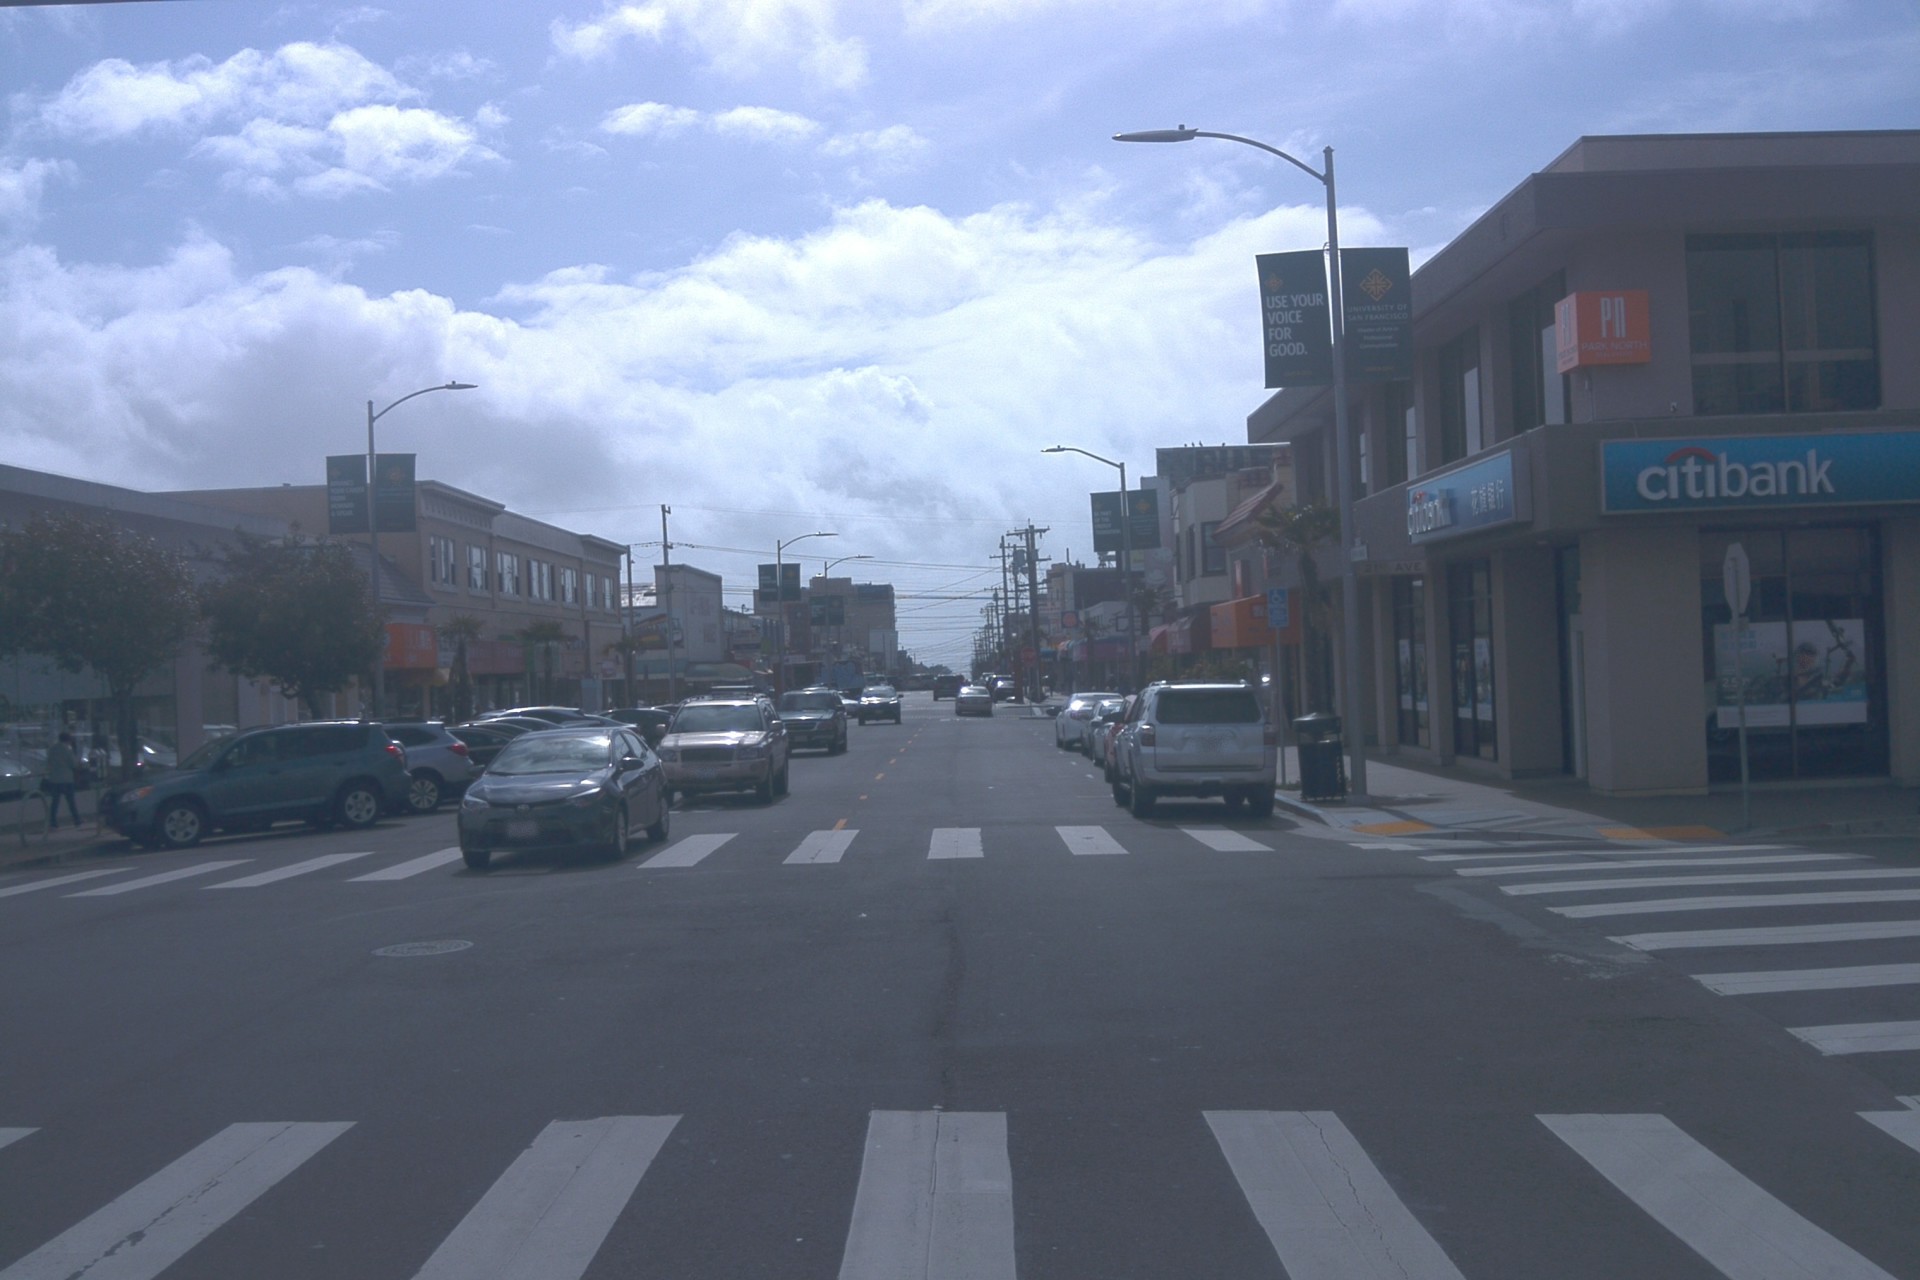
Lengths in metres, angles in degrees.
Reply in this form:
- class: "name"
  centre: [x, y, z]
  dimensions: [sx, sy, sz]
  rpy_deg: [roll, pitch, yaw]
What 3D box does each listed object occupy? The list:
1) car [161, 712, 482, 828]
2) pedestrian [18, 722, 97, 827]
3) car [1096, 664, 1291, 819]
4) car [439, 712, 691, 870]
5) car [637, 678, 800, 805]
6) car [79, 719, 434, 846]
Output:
- class: "car"
  centre: [-10.607, 2.106, 34.594]
  dimensions: [4.689, 1.720, 2.069]
  rpy_deg: [0, -1, -38]
- class: "pedestrian"
  centre: [-14.557, 2.161, 33.463]
  dimensions: [0.790, 1.643, 0.931]
  rpy_deg: [0, -1, 8]
- class: "car"
  centre: [3.150, 1.328, 28.920]
  dimensions: [2.072, 1.977, 4.682]
  rpy_deg: [0, -1, -2]
- class: "car"
  centre: [-4.440, 1.662, 24.033]
  dimensions: [2.013, 1.553, 4.580]
  rpy_deg: [0, -1, 0]
- class: "car"
  centre: [-3.855, 1.594, 33.828]
  dimensions: [2.132, 1.910, 4.452]
  rpy_deg: [0, -1, 0]
- class: "car"
  centre: [-10.636, 2.095, 31.481]
  dimensions: [4.689, 1.670, 2.069]
  rpy_deg: [0, -1, -37]
